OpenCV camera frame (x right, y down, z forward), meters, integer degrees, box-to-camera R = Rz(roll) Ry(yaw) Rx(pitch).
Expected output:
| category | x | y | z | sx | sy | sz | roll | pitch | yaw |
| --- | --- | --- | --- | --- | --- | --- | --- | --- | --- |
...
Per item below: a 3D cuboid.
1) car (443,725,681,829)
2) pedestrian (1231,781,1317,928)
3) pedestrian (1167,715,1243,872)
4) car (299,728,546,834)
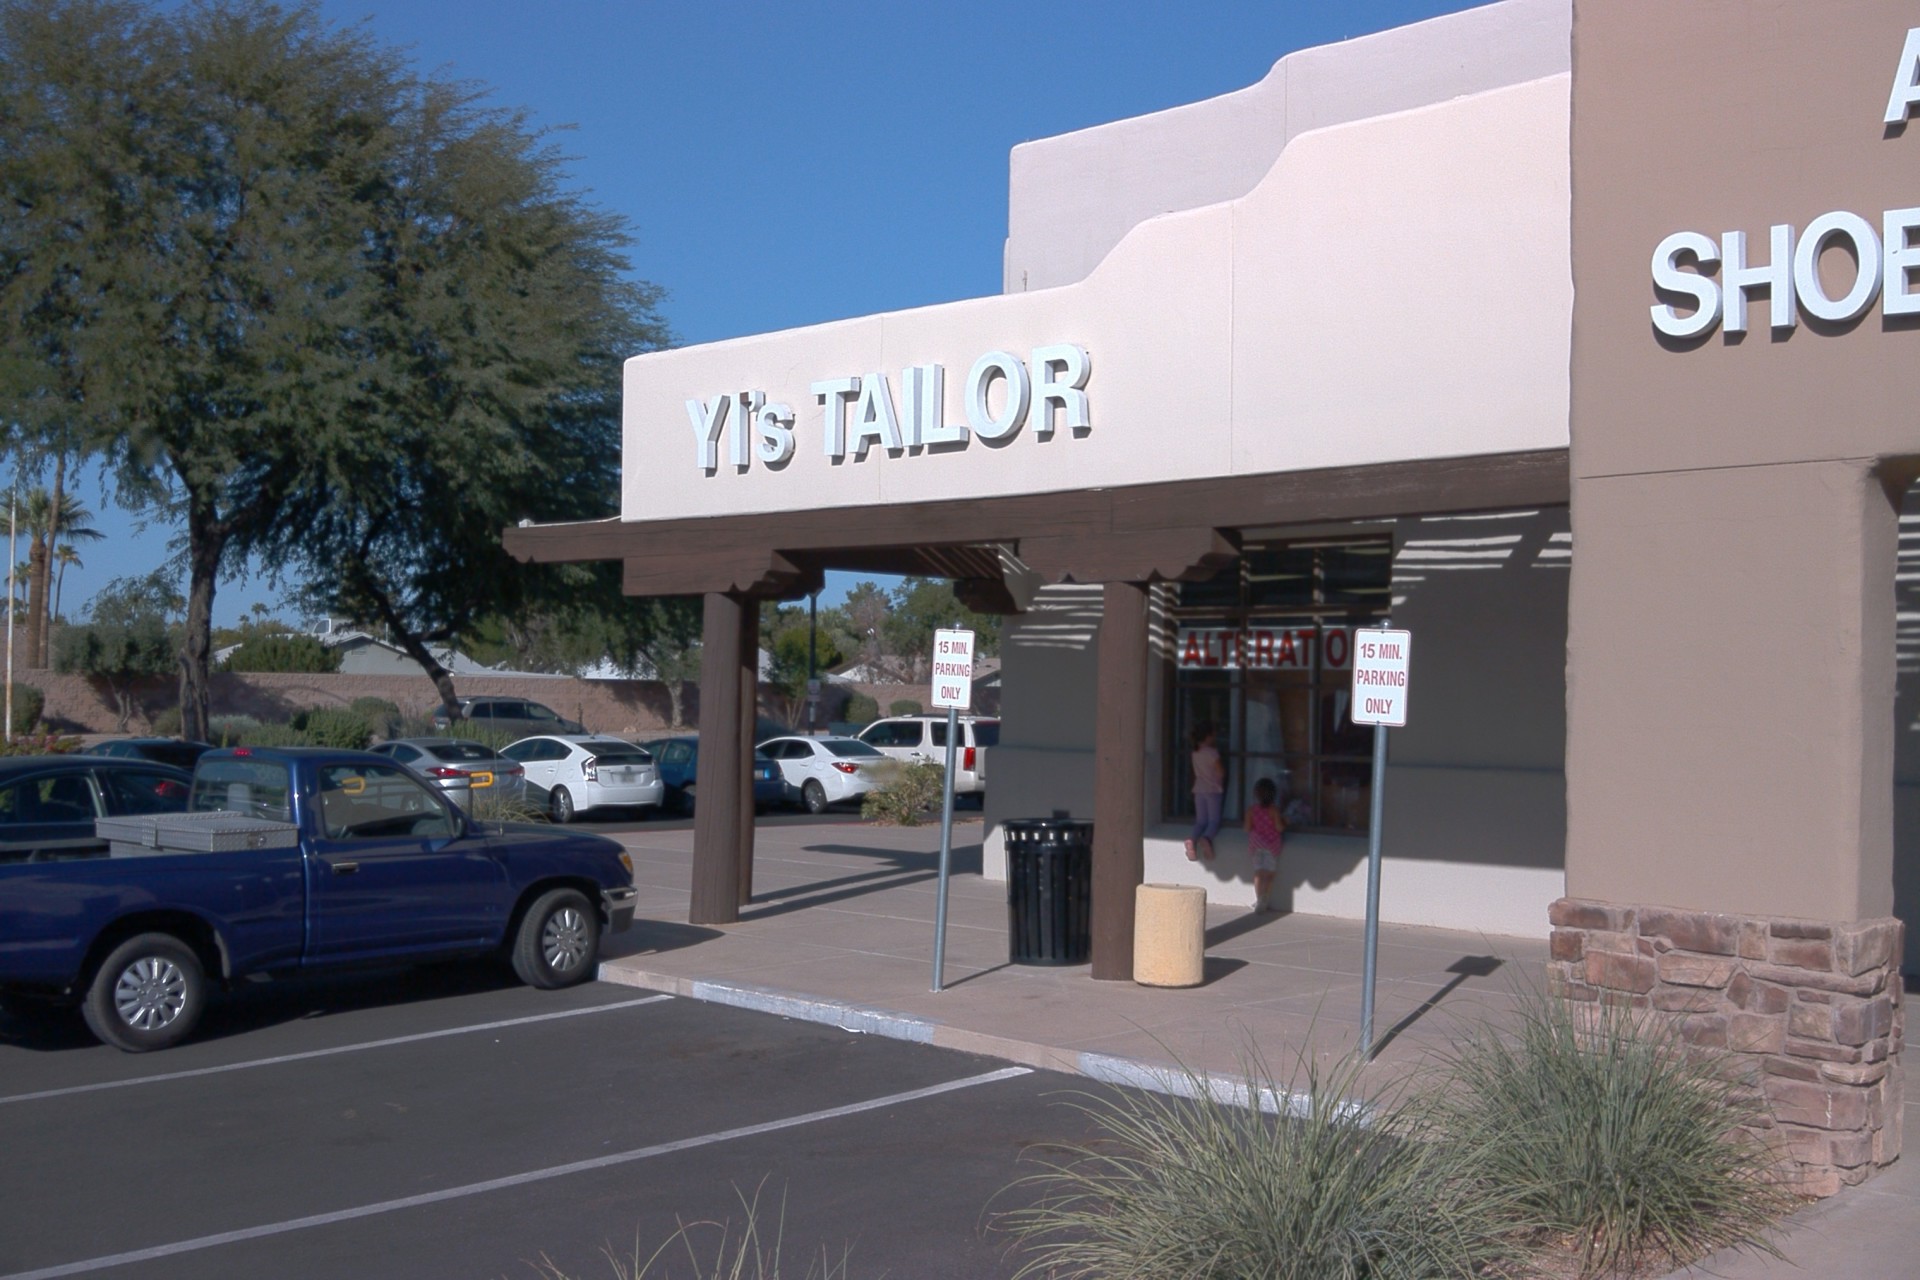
| category | x | y | z | sx | sy | sz | roll | pitch | yaw |
| --- | --- | --- | --- | --- | --- | --- | --- | --- | --- |
| car | -7.136 | 2.382 | 36.977 | 4.539 | 1.580 | 1.893 | -1 | 0 | 44 |
| pedestrian | 2.487 | 1.688 | 16.461 | 0.521 | 1.100 | 0.442 | -1 | 0 | -44 |
| pedestrian | 2.025 | 1.255 | 17.179 | 0.466 | 1.250 | 0.418 | -1 | 0 | -44 |
| car | -9.198 | 2.339 | 35.334 | 4.665 | 1.520 | 1.915 | -1 | 0 | 44 |
